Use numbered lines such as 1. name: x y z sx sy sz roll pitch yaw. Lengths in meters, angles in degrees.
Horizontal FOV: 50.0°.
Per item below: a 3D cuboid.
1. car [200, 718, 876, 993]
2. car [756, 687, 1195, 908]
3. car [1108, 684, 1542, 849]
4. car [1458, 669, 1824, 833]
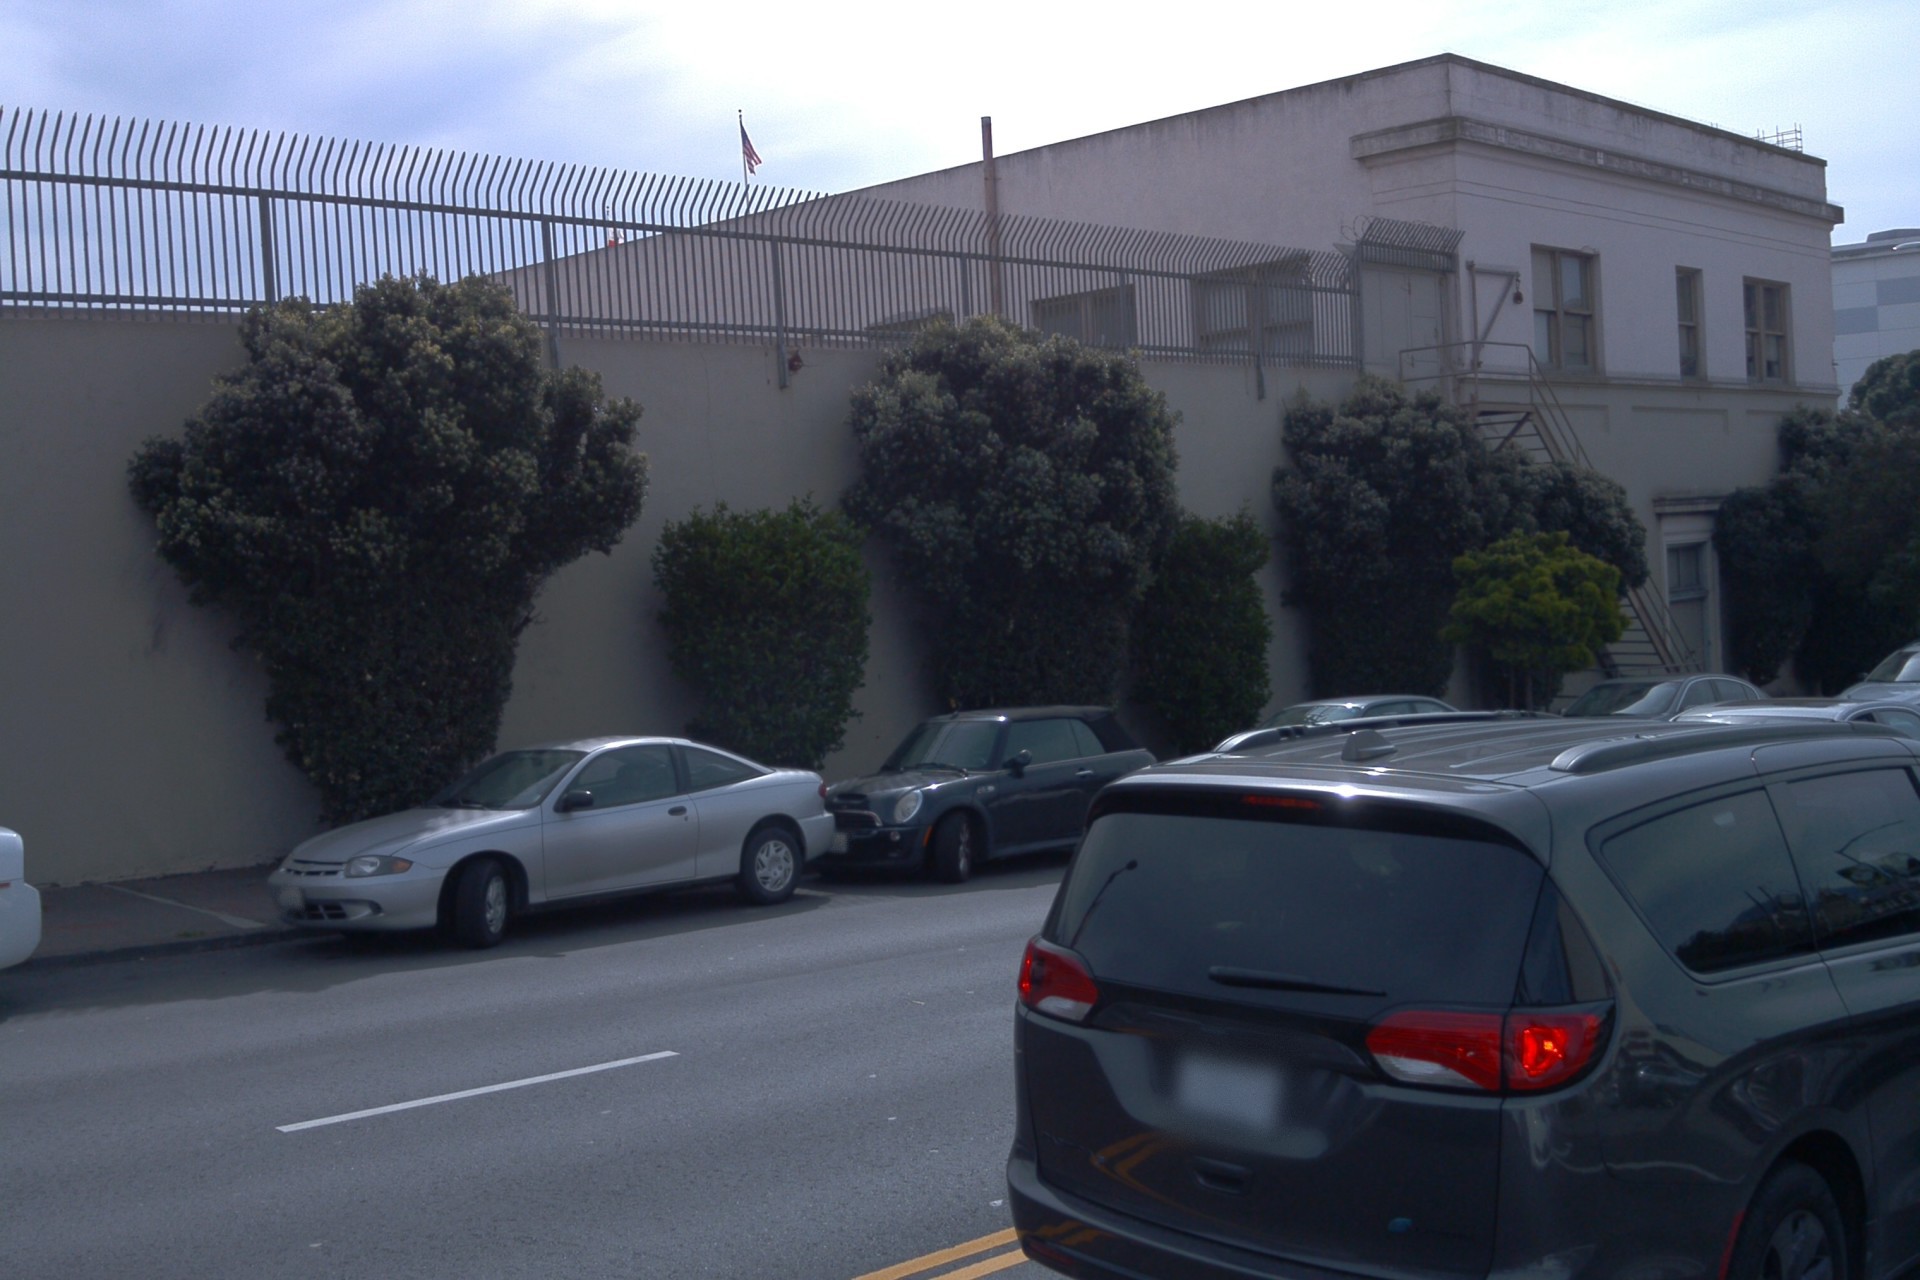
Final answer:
1. car: -2.979 1.448 15.339 1.978 1.480 4.651 1 1 43
2. car: 0.209 1.292 18.211 1.796 1.600 3.729 1 1 44
3. car: 3.881 1.235 21.508 4.448 1.390 2.035 -1 1 -39
4. car: 8.251 1.239 24.731 4.687 1.660 2.019 -1 1 -40
